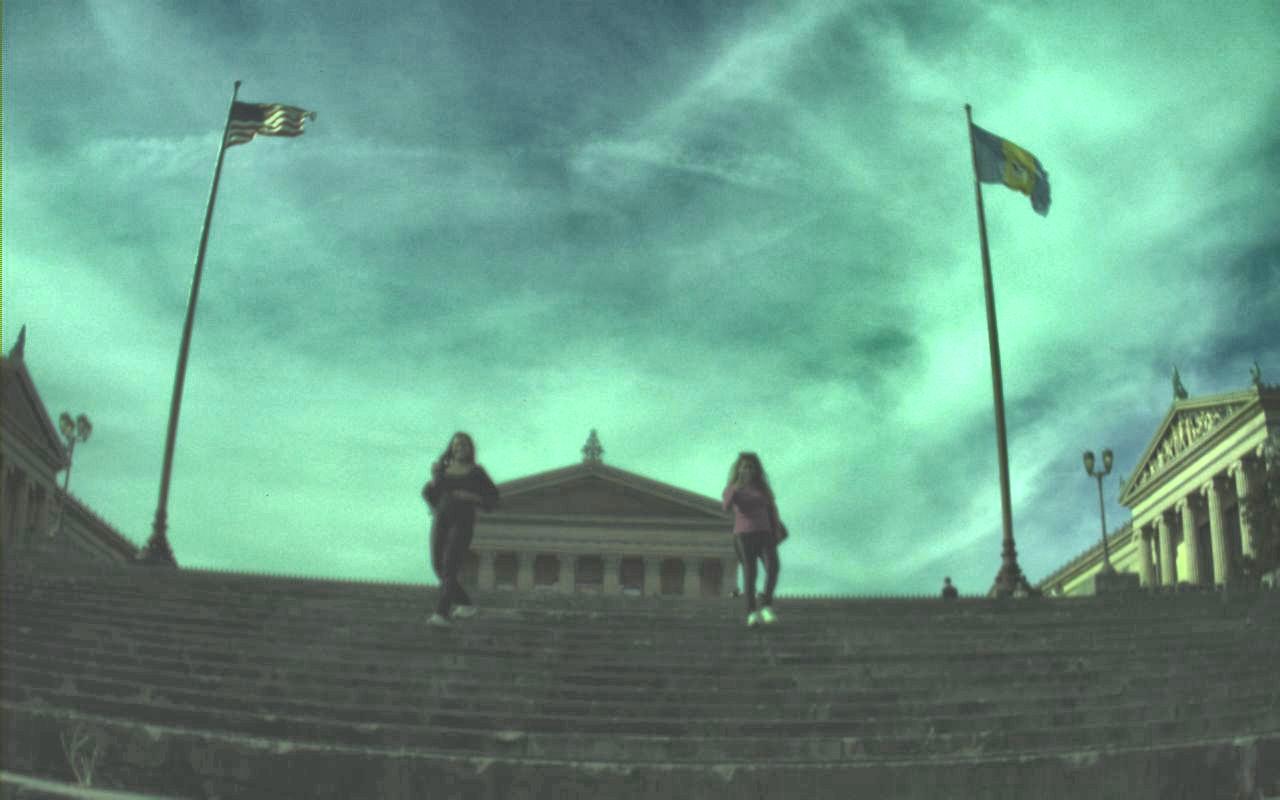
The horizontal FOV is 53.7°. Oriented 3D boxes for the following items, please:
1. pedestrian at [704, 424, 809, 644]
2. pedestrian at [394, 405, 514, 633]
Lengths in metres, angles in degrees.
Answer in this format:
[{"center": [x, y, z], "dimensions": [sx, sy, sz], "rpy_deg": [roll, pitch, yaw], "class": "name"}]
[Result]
[{"center": [0.961, 1.106, 10.518], "dimensions": [0.768, 1.766, 0.802], "rpy_deg": [0, 0, -2], "class": "pedestrian"}, {"center": [-1.521, 0.952, 10.235], "dimensions": [0.773, 1.780, 0.812], "rpy_deg": [0, 0, 9], "class": "pedestrian"}]
